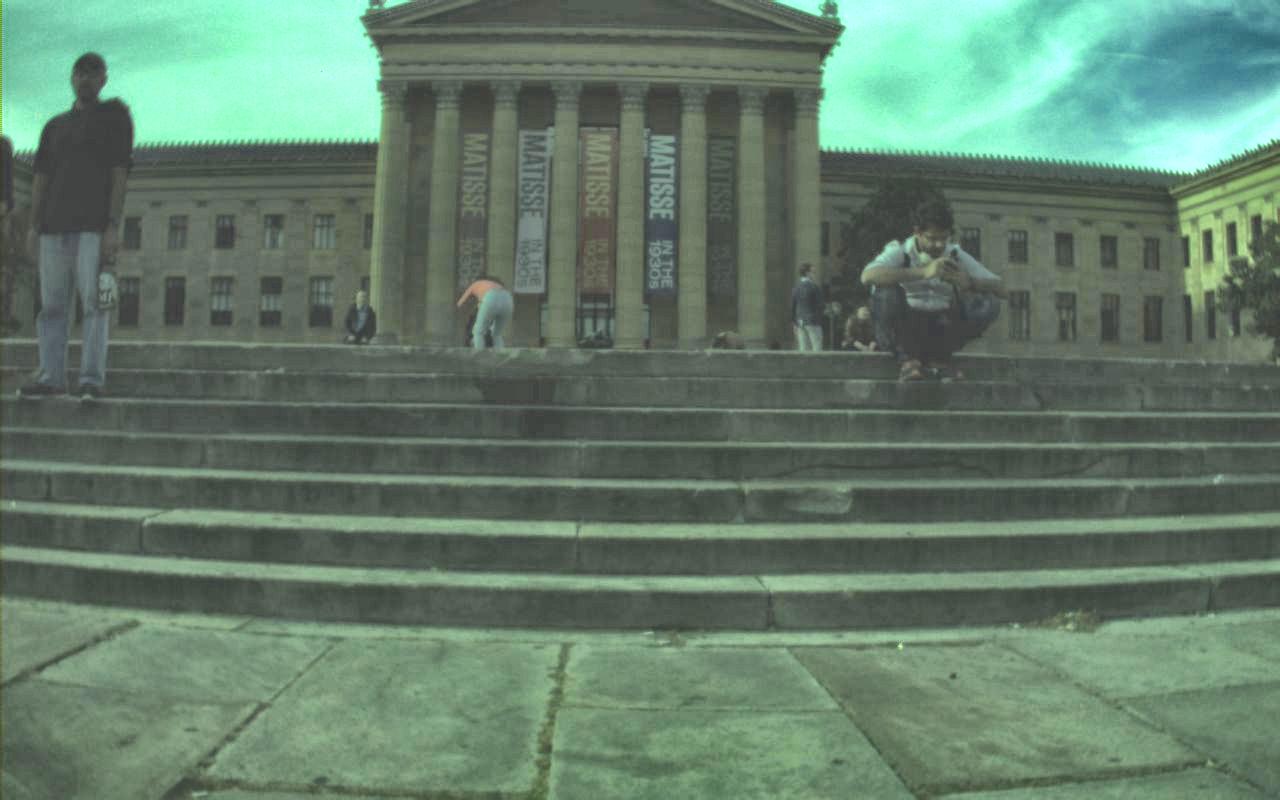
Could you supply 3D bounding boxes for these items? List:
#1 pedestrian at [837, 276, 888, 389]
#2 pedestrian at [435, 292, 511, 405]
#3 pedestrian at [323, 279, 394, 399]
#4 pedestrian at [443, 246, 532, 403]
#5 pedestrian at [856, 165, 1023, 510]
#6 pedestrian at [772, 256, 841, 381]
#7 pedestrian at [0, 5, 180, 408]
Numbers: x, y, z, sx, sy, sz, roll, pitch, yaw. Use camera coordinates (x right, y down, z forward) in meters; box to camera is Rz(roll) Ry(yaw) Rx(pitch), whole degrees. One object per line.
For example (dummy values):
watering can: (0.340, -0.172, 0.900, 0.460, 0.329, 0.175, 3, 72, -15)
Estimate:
pedestrian: (3.334, -0.997, 18.773, 0.715, 1.656, 0.720, 0, 0, 5)
pedestrian: (-2.502, -0.760, 18.788, 0.812, 1.652, 0.832, 1, 0, 23)
pedestrian: (-4.238, -0.899, 18.552, 0.819, 1.753, 0.813, 0, 0, -37)
pedestrian: (-1.720, -0.837, 14.236, 0.808, 1.718, 0.863, 0, 0, 7)
pedestrian: (1.502, -0.304, 6.199, 0.809, 1.636, 0.744, 0, 0, 12)
pedestrian: (2.447, -1.174, 18.409, 0.799, 1.780, 0.783, 1, 0, 25)
pedestrian: (-2.779, -0.893, 5.546, 0.772, 1.855, 0.767, 0, 0, 1)
